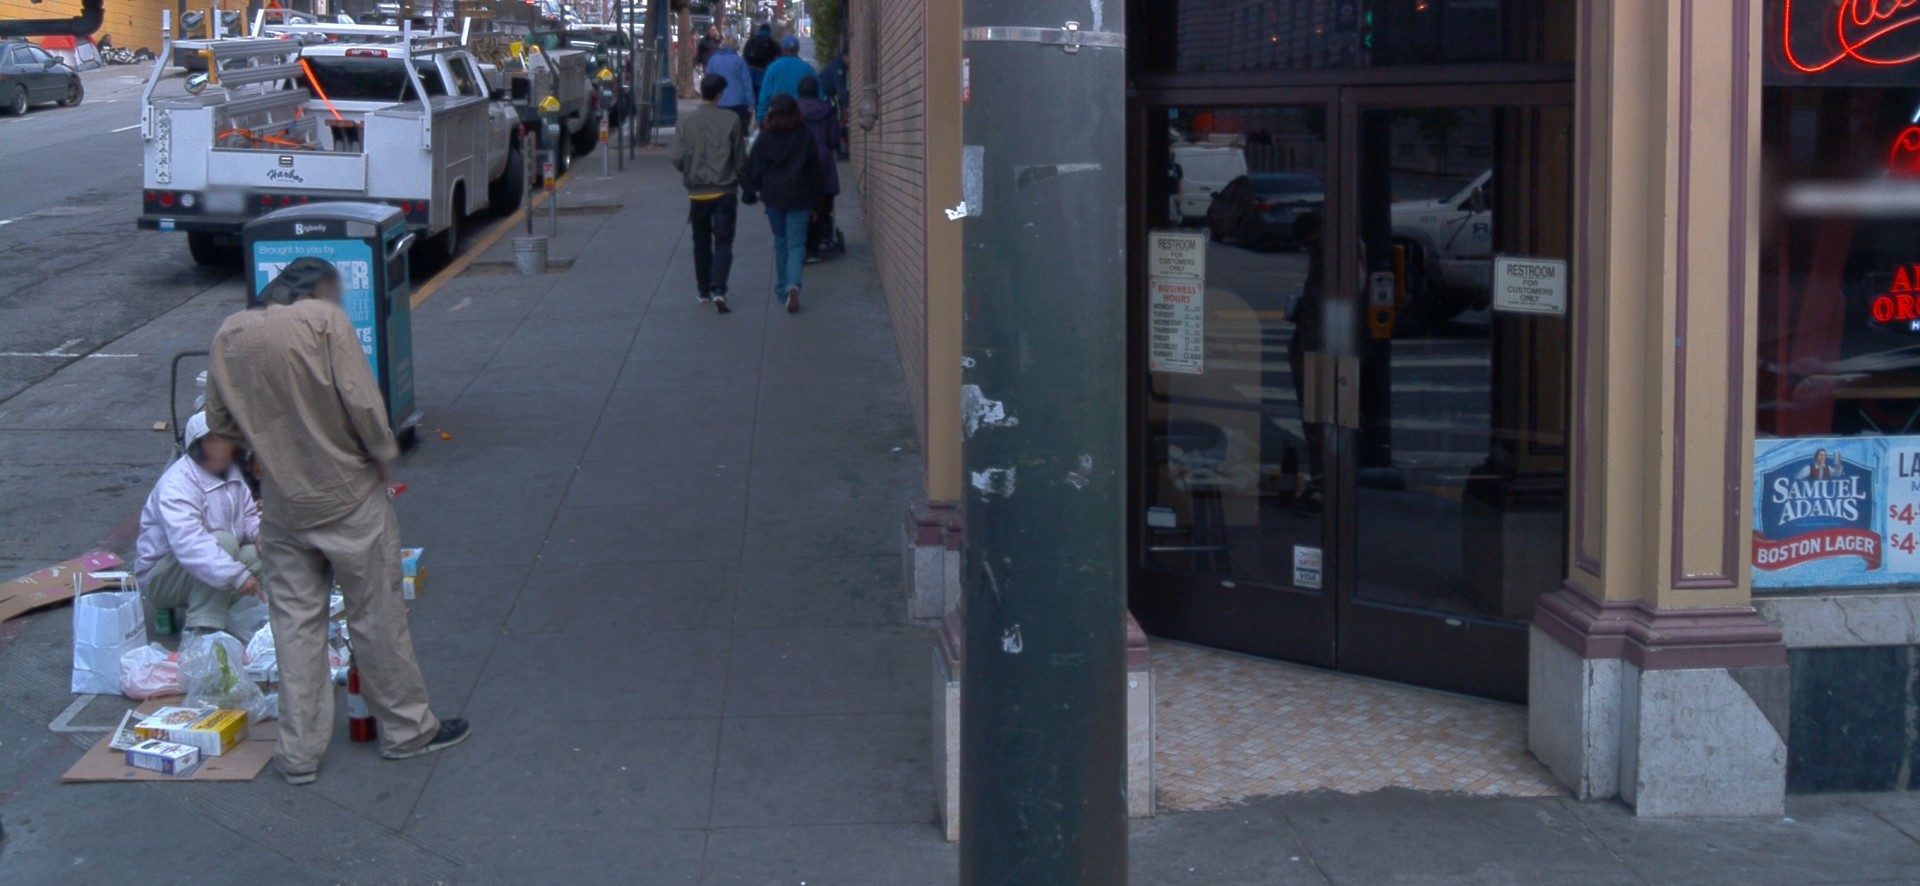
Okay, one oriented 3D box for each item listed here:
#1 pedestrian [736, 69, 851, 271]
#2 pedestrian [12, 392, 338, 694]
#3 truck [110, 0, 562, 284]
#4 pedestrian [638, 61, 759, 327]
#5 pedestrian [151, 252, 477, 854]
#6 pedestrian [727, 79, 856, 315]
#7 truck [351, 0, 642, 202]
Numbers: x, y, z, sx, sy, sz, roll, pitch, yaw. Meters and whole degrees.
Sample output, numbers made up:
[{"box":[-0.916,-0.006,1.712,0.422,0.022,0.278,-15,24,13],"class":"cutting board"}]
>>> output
[{"box":[-1.381,-2.258,17.126,0.921,1.629,1.102,0,2,-4],"class":"pedestrian"},{"box":[-2.827,0.332,7.494,0.866,0.969,0.879,0,3,-1],"class":"pedestrian"},{"box":[-5.758,-3.067,20.281,2.752,2.809,7.135,0,5,-4],"class":"truck"},{"box":[-1.889,-1.801,14.957,0.795,1.869,0.986,0,1,-3],"class":"pedestrian"},{"box":[-1.965,0.256,6.261,0.886,1.669,0.840,-1,1,-19],"class":"pedestrian"},{"box":[-1.214,-1.776,14.906,0.900,1.649,1.002,0,2,-4],"class":"pedestrian"},{"box":[-6.061,-4.869,28.064,2.796,3.009,7.411,0,5,-4],"class":"truck"}]
